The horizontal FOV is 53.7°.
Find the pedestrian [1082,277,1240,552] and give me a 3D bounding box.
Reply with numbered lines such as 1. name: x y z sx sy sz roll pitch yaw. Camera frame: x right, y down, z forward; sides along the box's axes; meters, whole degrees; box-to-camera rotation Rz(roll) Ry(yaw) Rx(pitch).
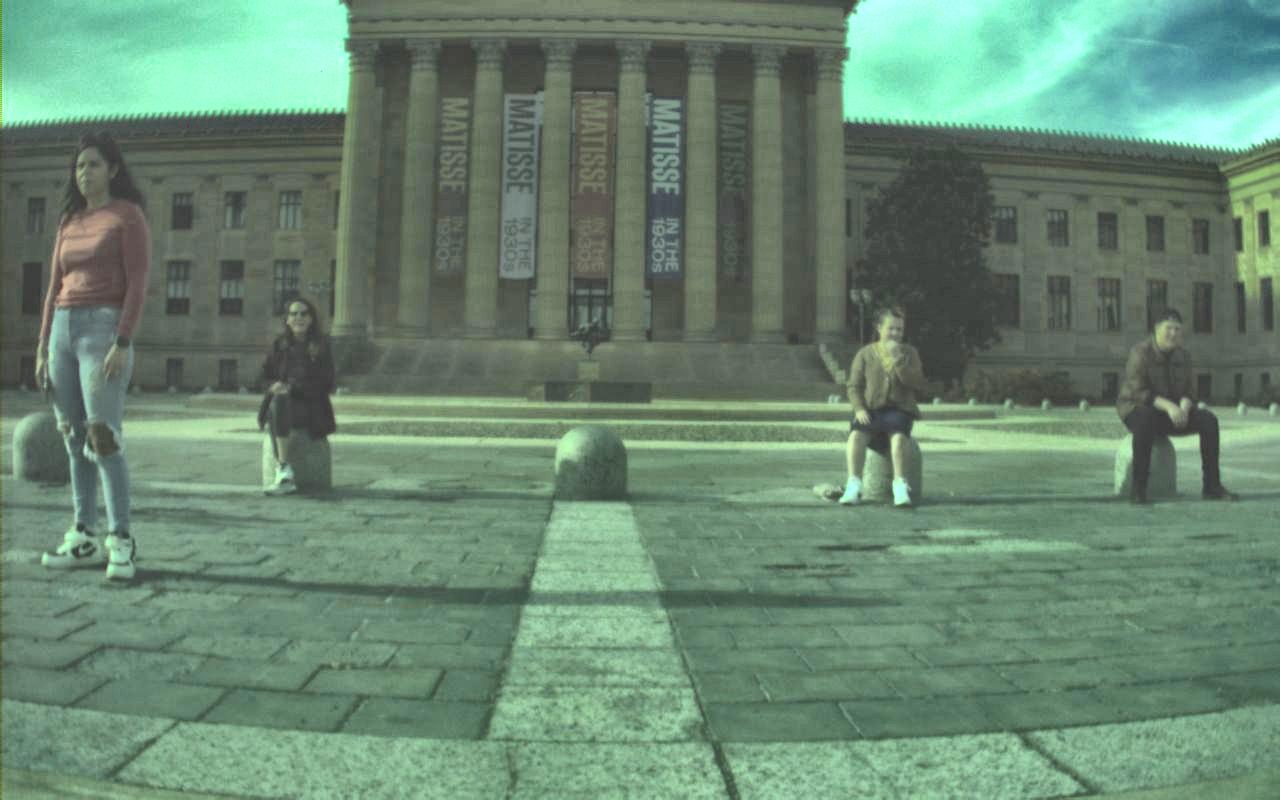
1. pedestrian: 3.493 0.102 7.868 0.813 1.735 0.829 0 0 -4

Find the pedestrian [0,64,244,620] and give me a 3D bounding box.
1. pedestrian: -1.989 -0.197 4.192 0.781 1.819 0.791 0 0 16

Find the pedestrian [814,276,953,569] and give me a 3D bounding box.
1. pedestrian: 1.537 0.134 7.909 0.826 1.771 0.834 0 0 9

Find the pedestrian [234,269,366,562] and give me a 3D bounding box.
1. pedestrian: -2.185 0.095 7.736 0.821 1.771 0.810 0 0 -19
